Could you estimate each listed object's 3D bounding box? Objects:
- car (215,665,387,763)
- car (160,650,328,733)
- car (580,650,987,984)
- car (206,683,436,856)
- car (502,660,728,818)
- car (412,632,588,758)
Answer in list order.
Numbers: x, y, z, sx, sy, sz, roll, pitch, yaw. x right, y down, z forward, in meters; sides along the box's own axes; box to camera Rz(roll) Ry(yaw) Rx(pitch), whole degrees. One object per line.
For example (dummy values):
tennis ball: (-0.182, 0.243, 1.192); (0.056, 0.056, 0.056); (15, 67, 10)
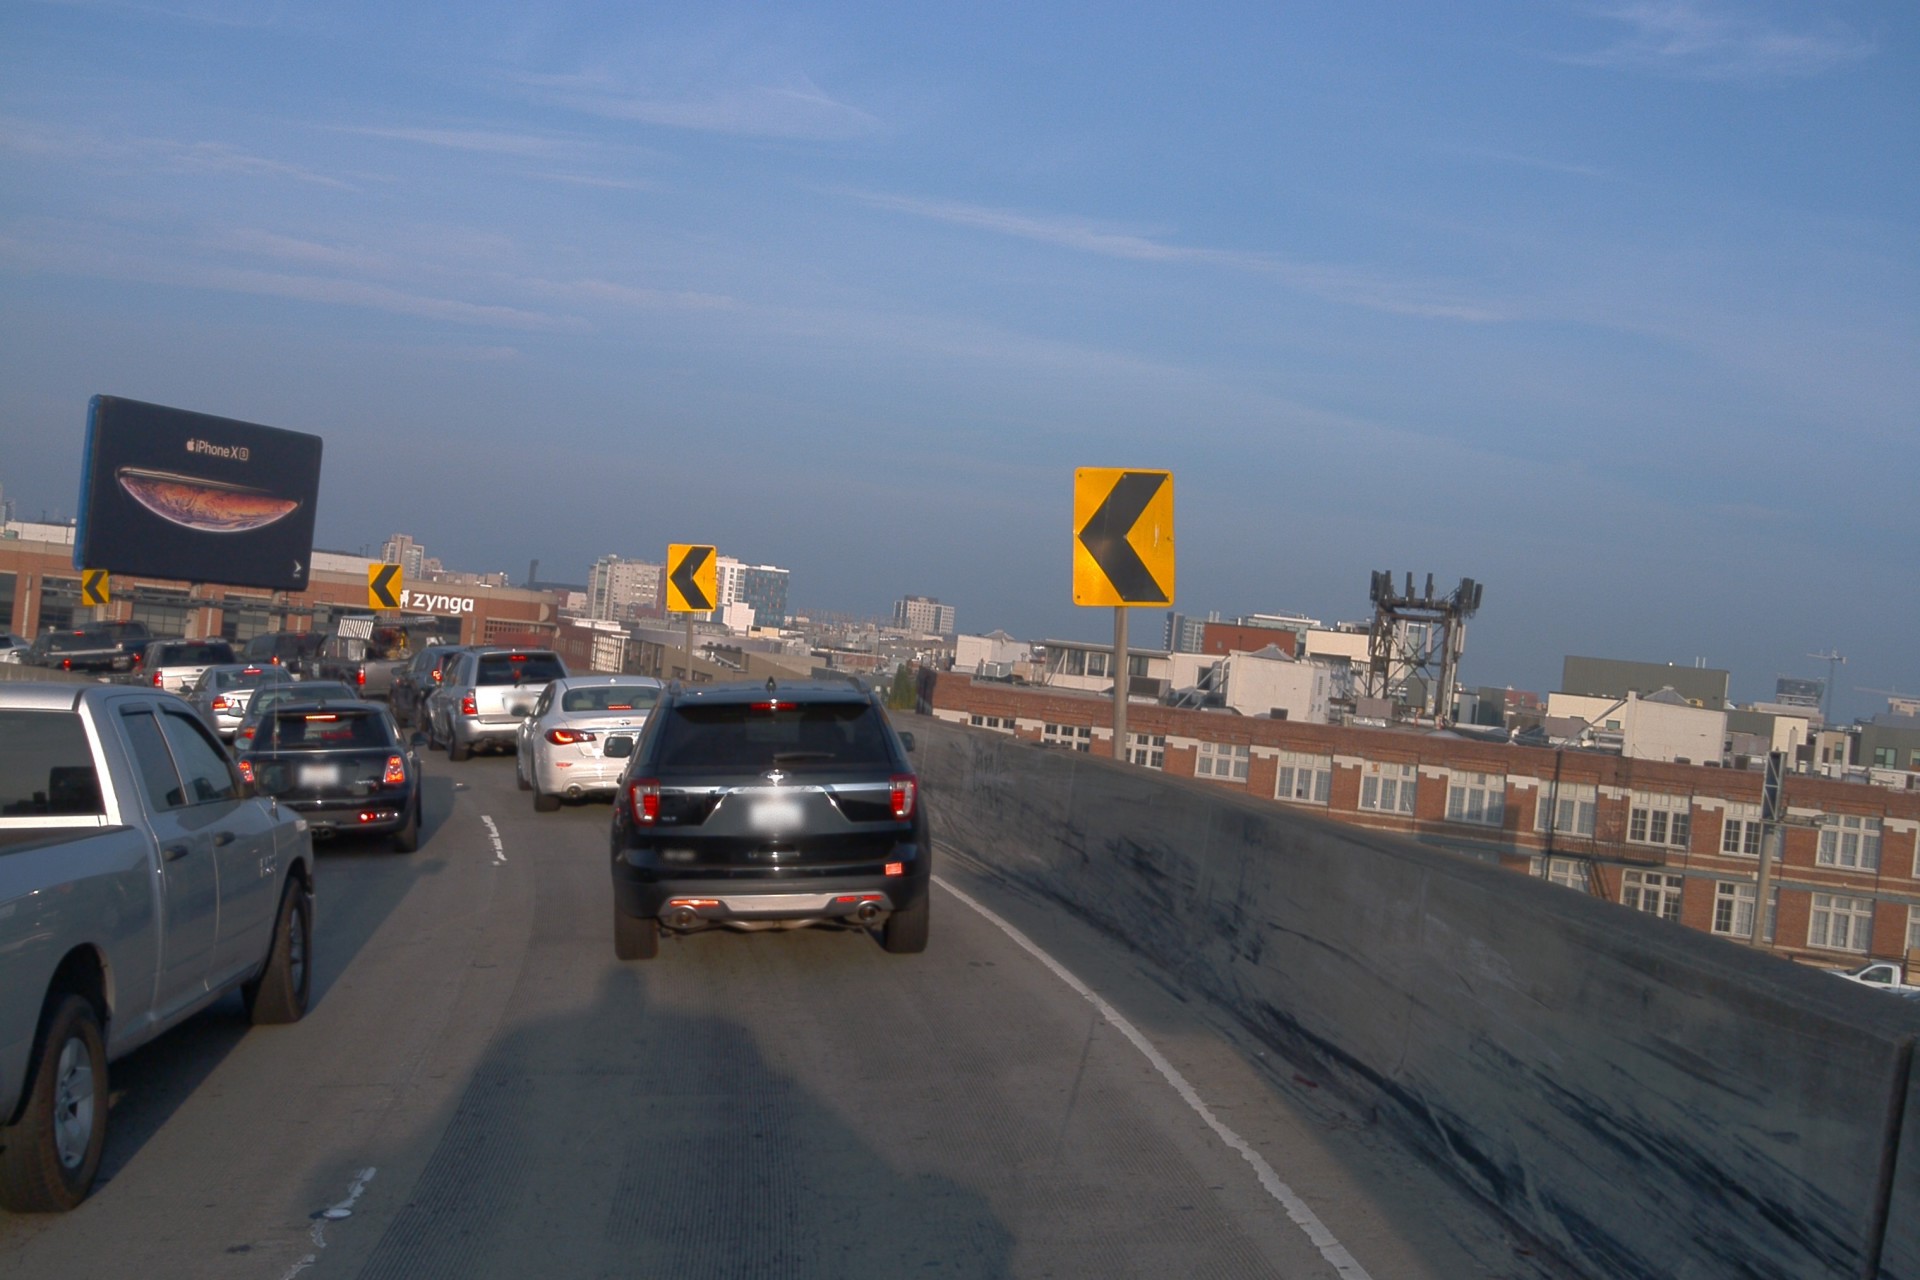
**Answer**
car: (-8.946, 0.948, 27.680); (1.826, 1.160, 3.836); (0, 0, -24)
car: (-12.629, 0.854, 35.999); (2.005, 1.310, 4.887); (0, 0, -29)
car: (-1.361, 1.017, 14.233); (2.327, 1.850, 4.876); (0, 0, -9)
car: (-6.175, 1.183, 20.231); (1.934, 1.411, 4.084); (0, 0, -14)
car: (-4.164, 1.071, 24.143); (2.144, 1.590, 4.509); (0, 0, -16)
car: (-7.277, 0.797, 32.156); (1.992, 1.820, 4.394); (0, 0, -22)
